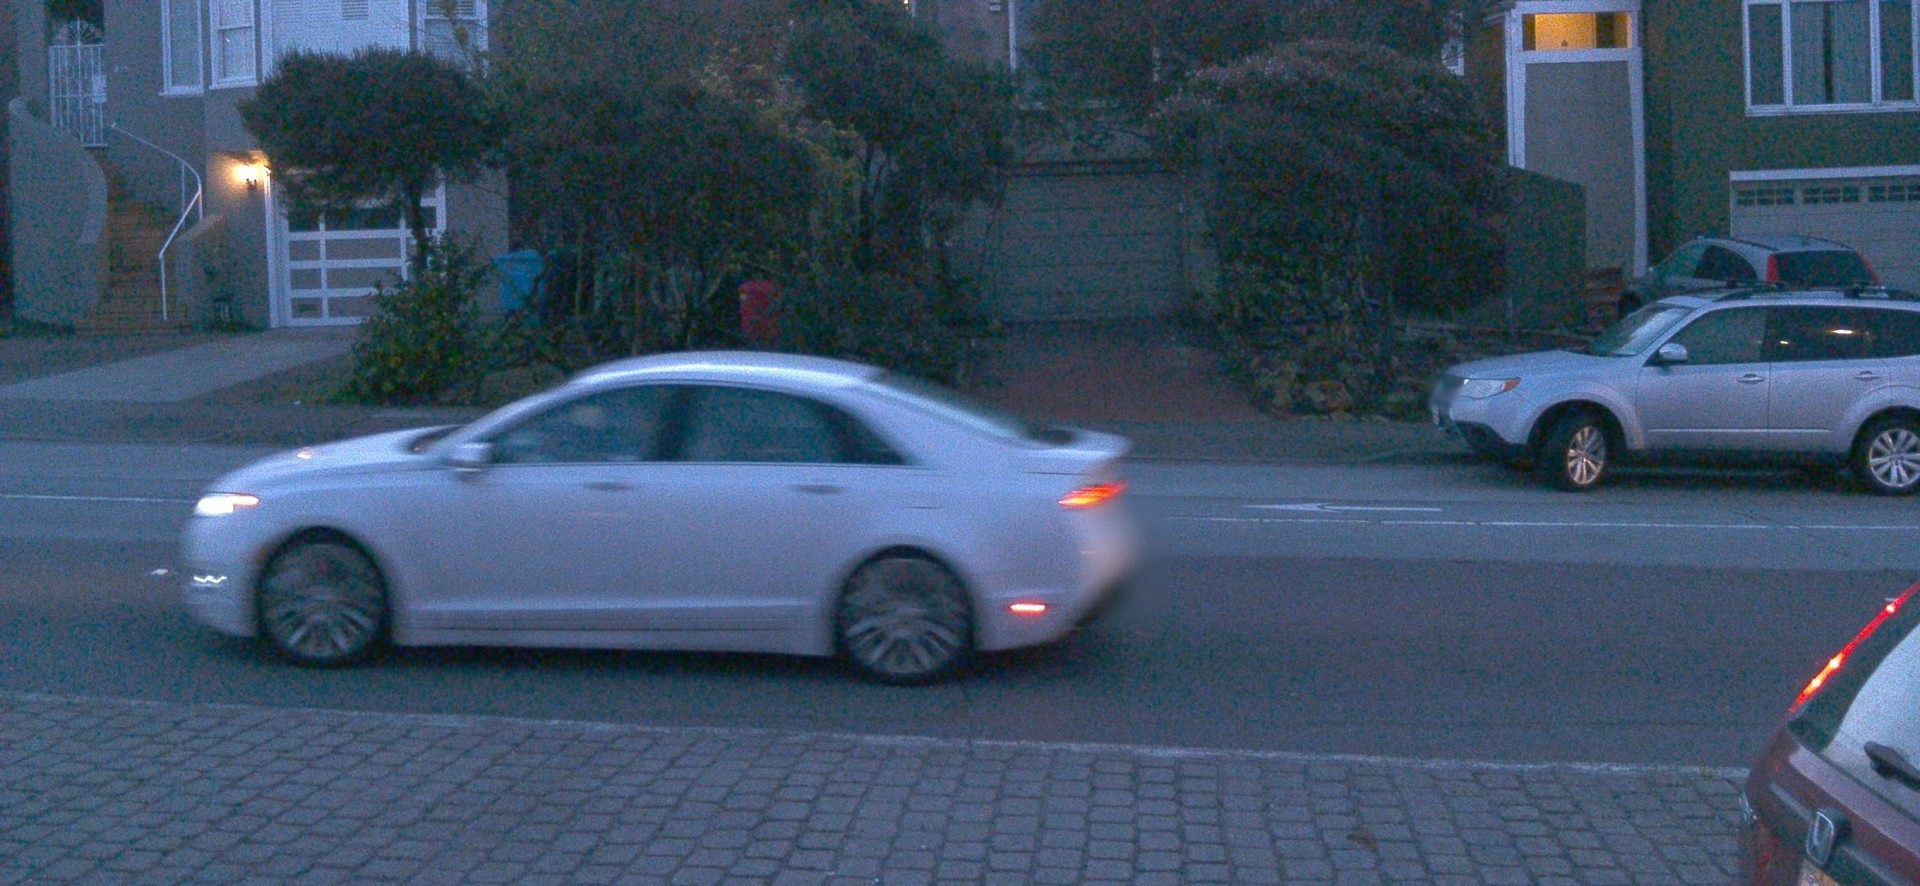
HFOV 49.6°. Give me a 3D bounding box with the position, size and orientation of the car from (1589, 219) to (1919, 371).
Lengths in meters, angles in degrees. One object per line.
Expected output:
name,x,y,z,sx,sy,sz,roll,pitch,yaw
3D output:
car,9.698,-1.910,25.786,1.986,1.661,4.471,0,6,-7

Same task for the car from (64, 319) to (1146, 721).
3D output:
car,-1.520,0.264,10.281,4.839,1.544,2.186,1,5,4
